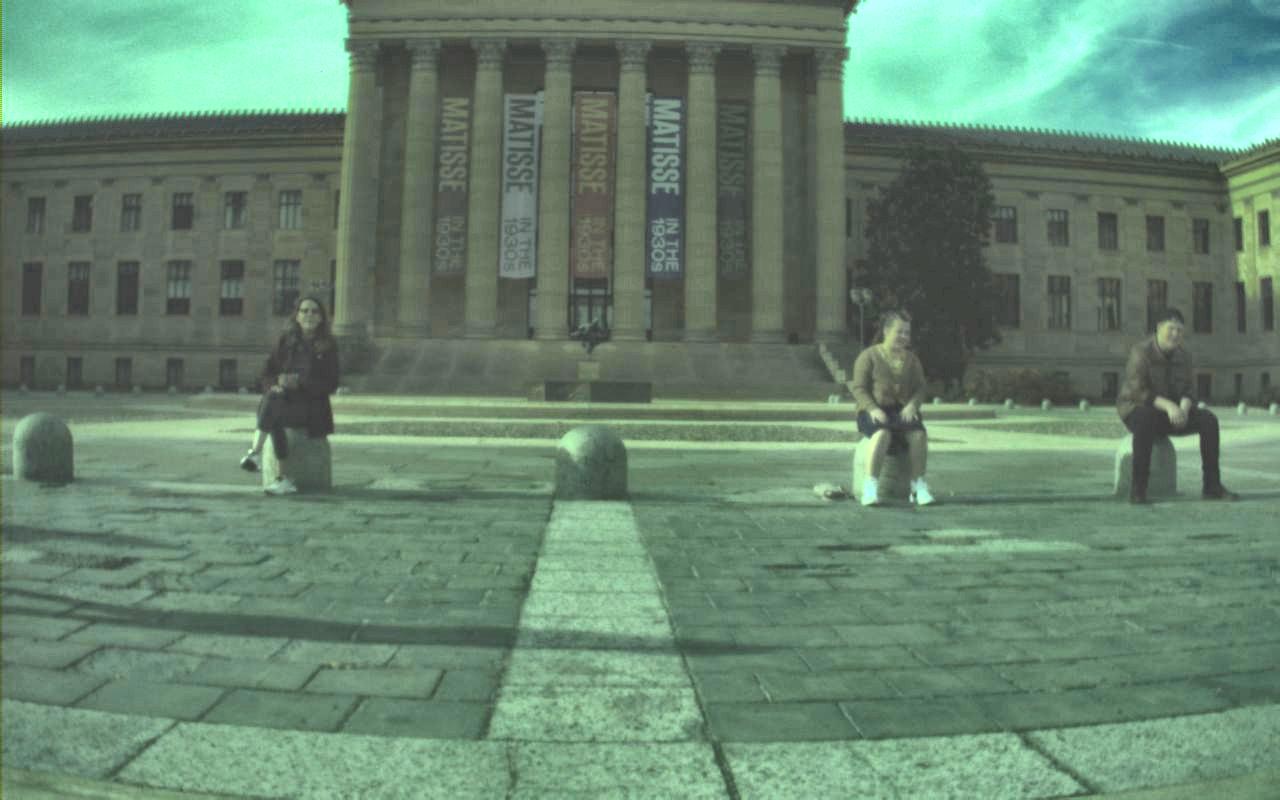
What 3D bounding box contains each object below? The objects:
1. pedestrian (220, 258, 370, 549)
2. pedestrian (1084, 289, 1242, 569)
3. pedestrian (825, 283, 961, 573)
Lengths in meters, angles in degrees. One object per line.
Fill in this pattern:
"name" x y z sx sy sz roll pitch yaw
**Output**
"pedestrian" -2.193 0.017 7.755 0.781 1.751 0.789 0 0 3
"pedestrian" 3.502 0.194 7.846 0.824 1.774 0.828 0 0 -1
"pedestrian" 1.593 0.170 7.918 0.808 1.759 0.809 0 0 8
